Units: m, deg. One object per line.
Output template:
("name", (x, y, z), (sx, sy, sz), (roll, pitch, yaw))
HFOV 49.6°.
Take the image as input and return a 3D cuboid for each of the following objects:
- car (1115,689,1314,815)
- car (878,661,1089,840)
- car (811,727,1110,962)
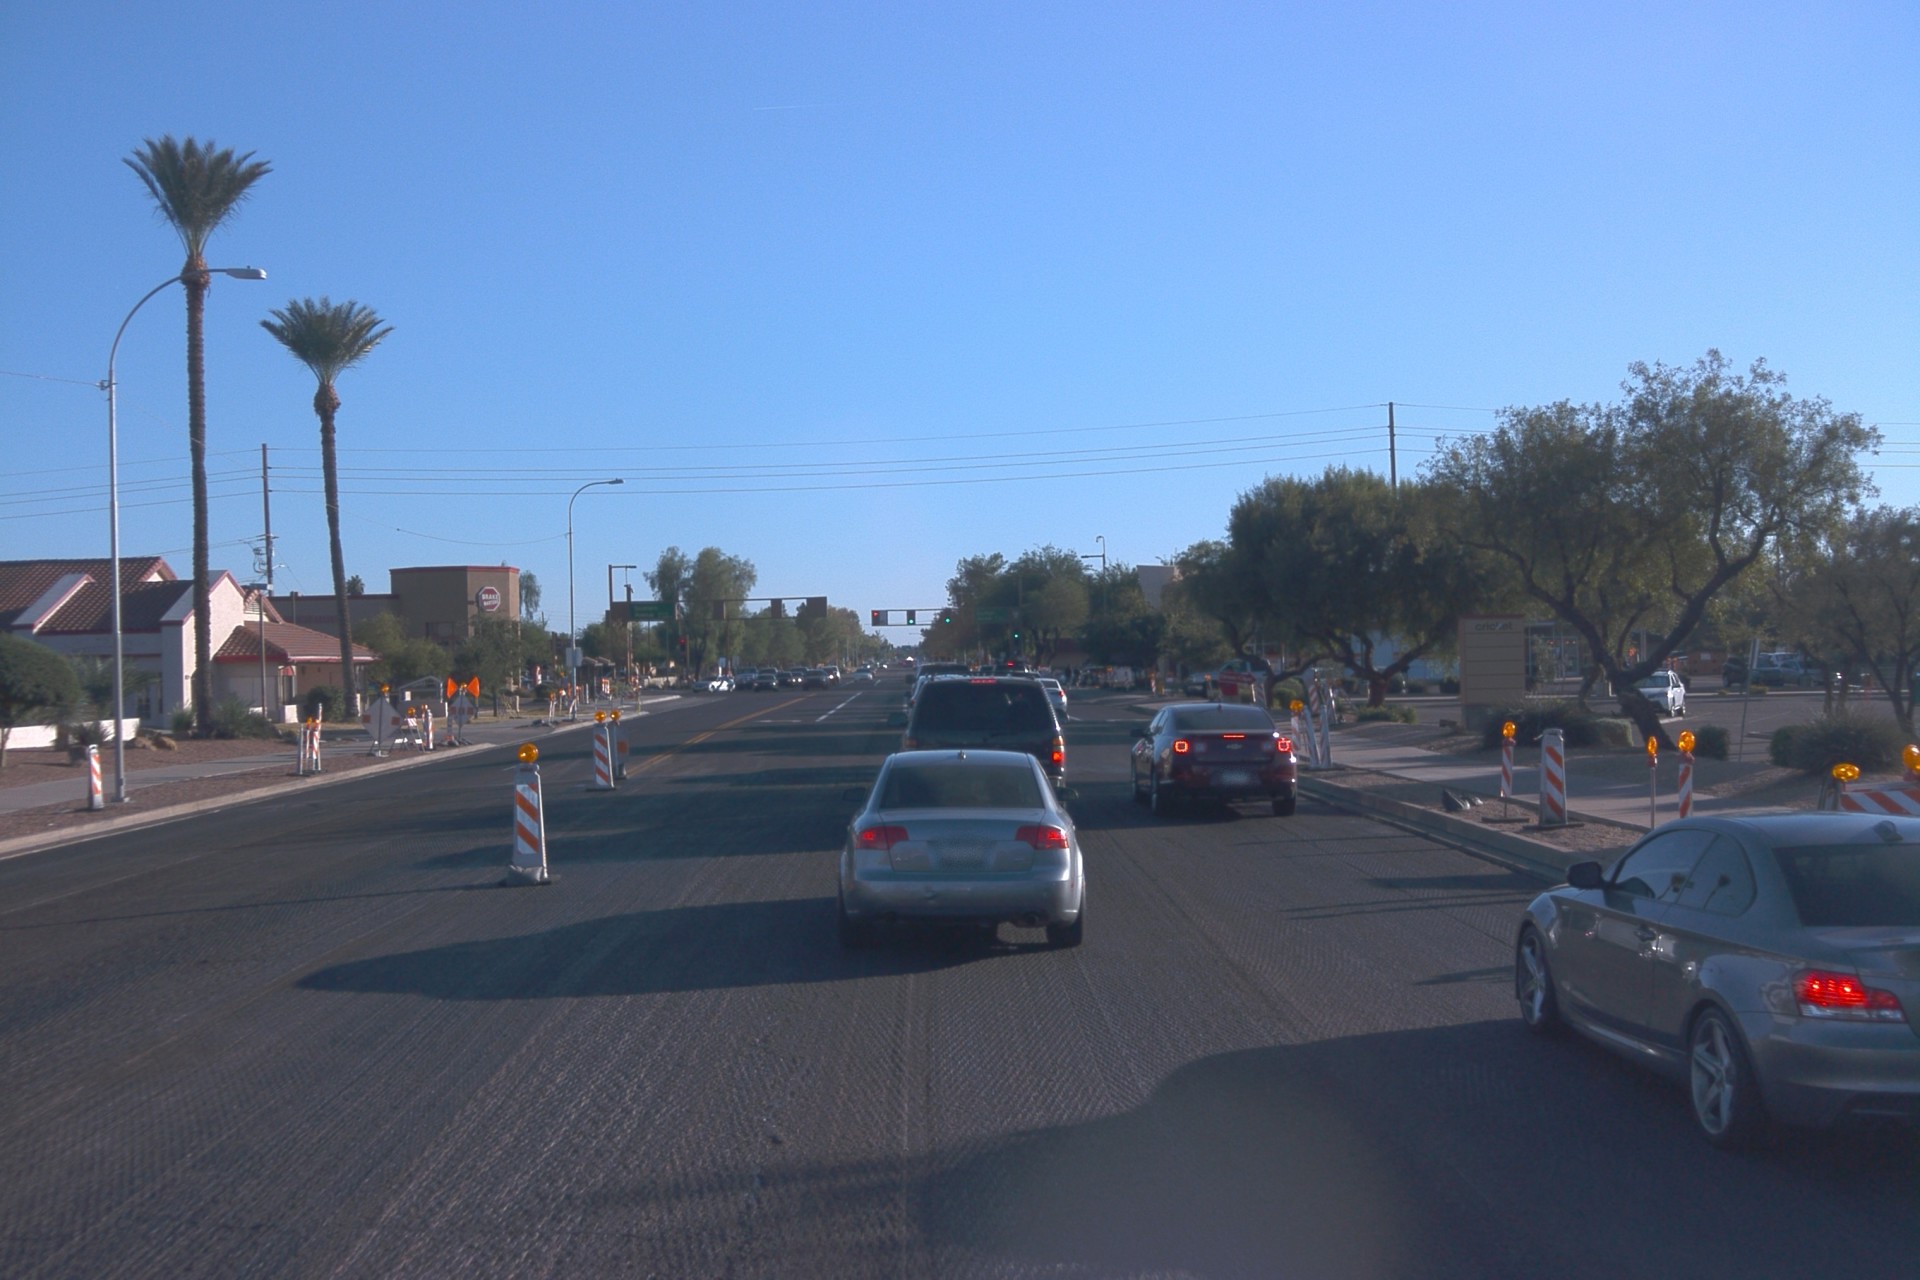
("car", (3.376, 1.461, 28.517), (2.110, 1.540, 4.833), (0, -1, 0))
("car", (0.245, 1.301, 26.259), (2.405, 2.040, 5.062), (0, -1, -1))
("car", (0.020, 1.483, 16.350), (2.033, 1.480, 4.402), (0, -1, 1))
